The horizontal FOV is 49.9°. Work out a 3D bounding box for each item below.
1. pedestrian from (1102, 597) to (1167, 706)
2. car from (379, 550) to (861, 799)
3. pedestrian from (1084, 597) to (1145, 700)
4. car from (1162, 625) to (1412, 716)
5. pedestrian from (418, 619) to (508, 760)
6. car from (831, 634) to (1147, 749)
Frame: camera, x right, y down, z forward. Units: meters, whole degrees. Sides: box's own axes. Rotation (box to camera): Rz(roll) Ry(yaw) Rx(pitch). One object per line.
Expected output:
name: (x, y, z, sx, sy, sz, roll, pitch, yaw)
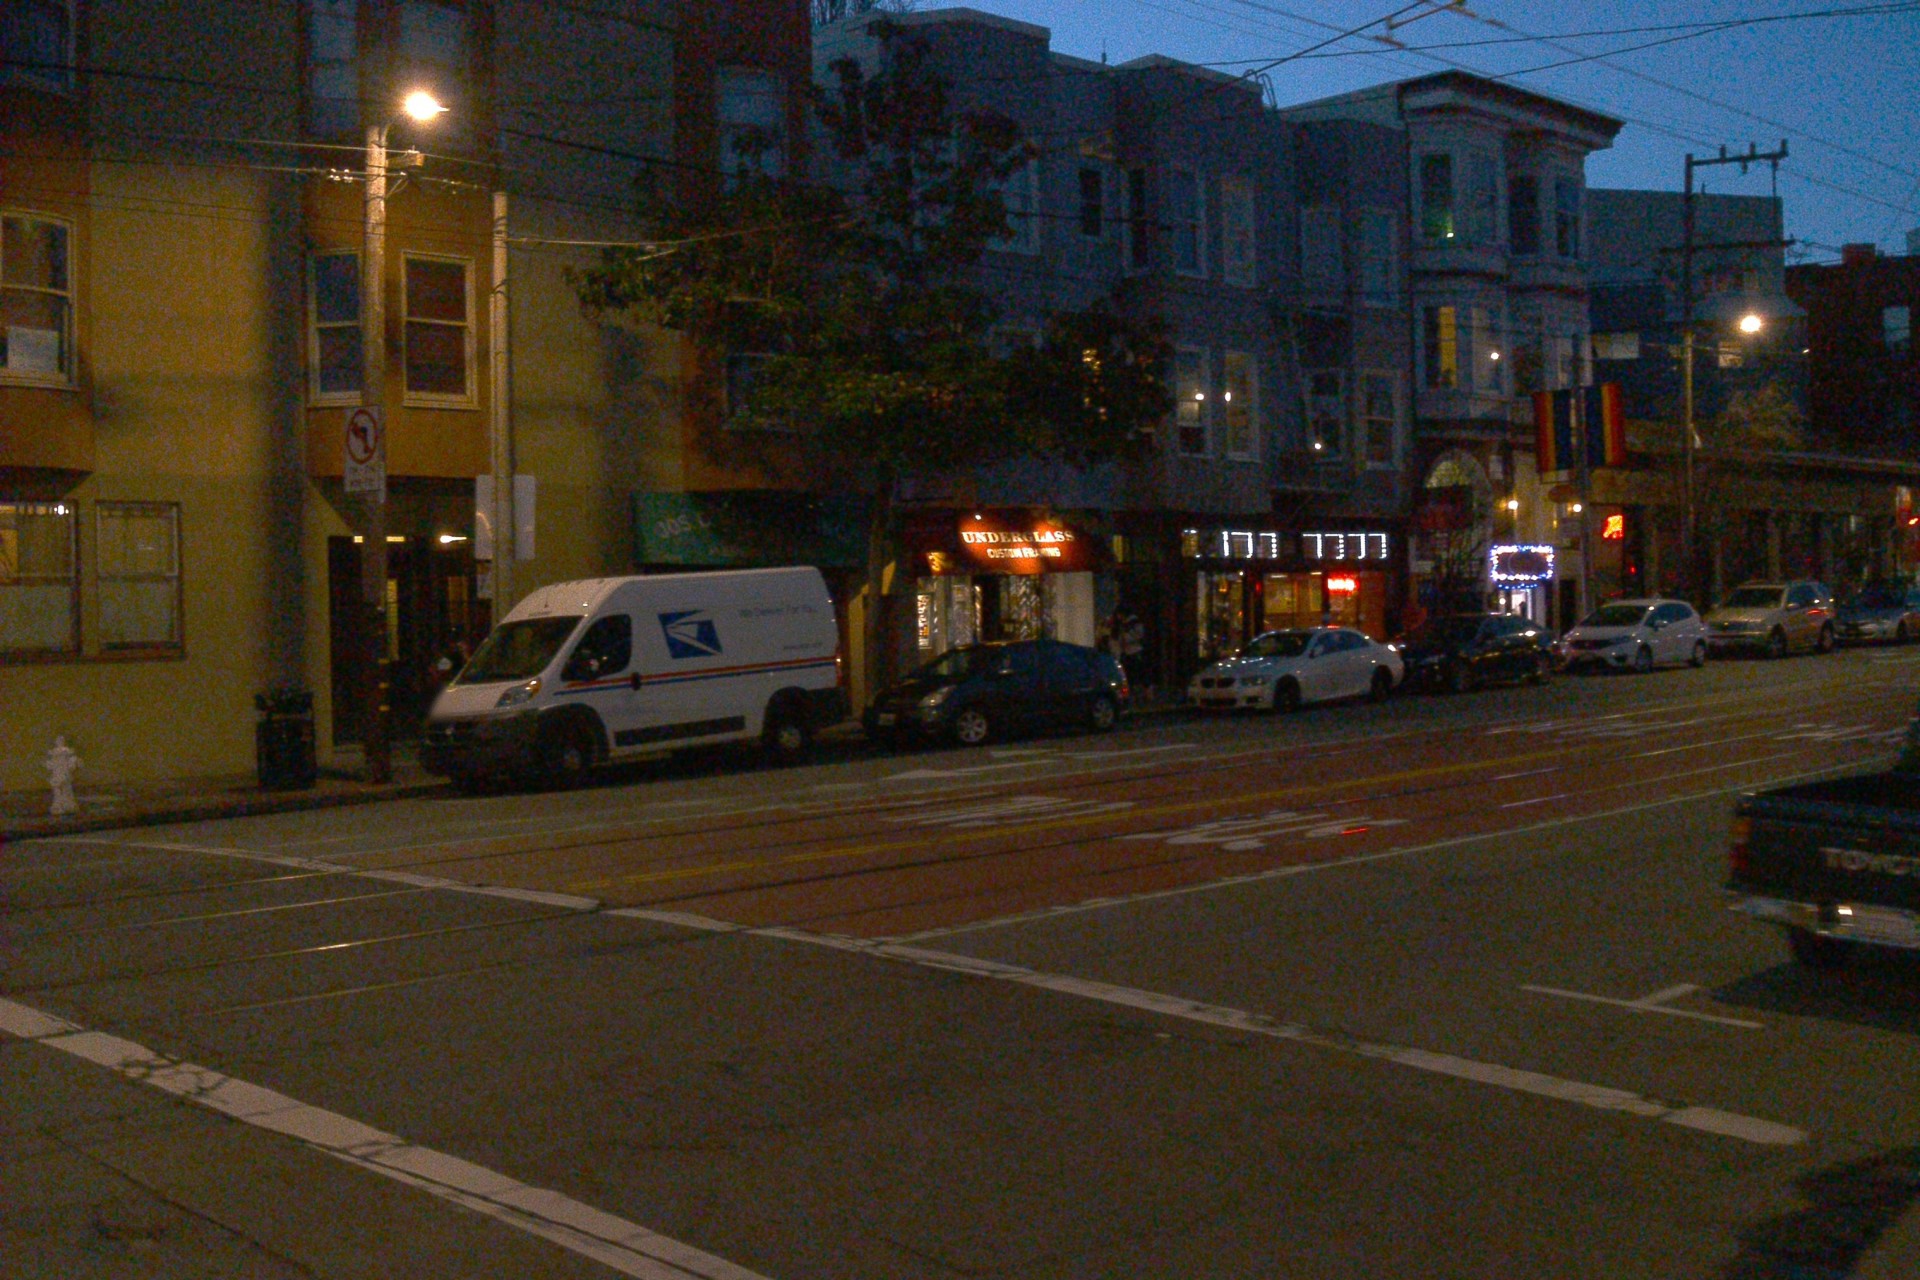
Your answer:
pedestrian: (3.061, 0.193, 36.155, 0.895, 1.870, 0.727, -1, 1, -45)
car: (-4.056, 0.355, 25.504, 2.515, 2.730, 5.482, 1, 1, 42)
pedestrian: (2.738, 0.151, 36.576, 0.840, 1.800, 0.679, -1, 1, -43)
car: (5.632, 0.467, 35.213, 1.971, 1.450, 4.453, 1, 1, 45)
pedestrian: (-6.727, 0.653, 27.949, 0.862, 1.870, 0.832, -1, 1, -45)
car: (0.487, 0.693, 30.141, 4.511, 1.520, 2.027, -1, 1, -44)
